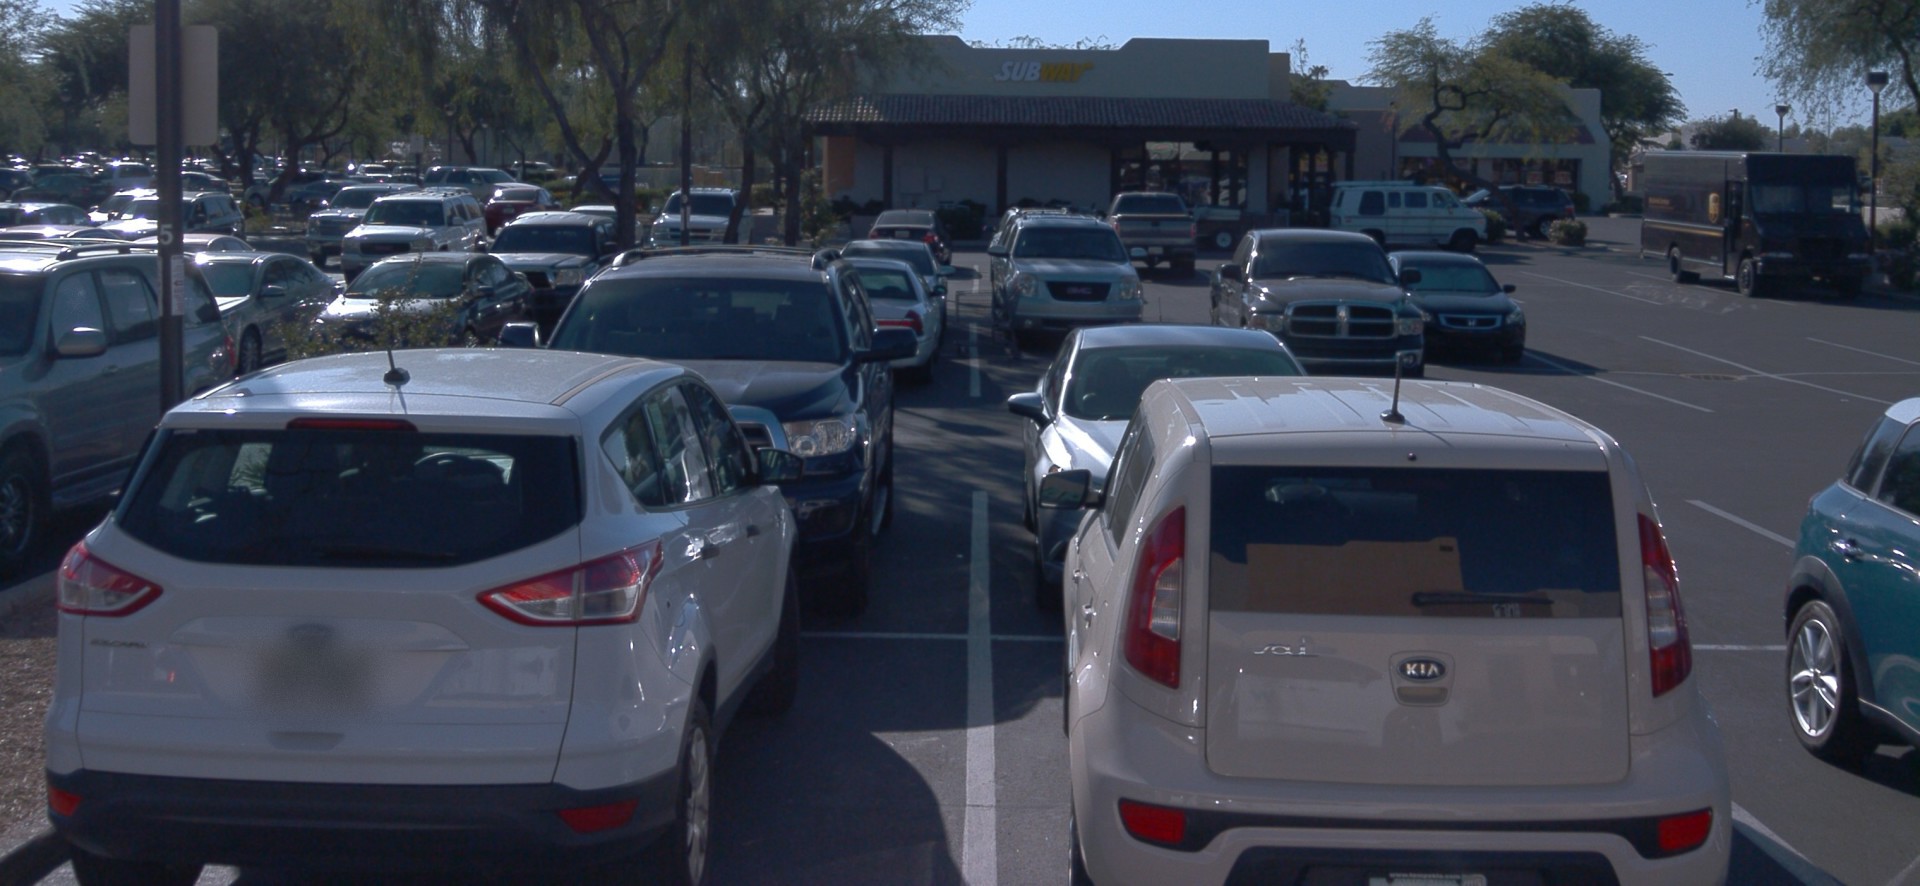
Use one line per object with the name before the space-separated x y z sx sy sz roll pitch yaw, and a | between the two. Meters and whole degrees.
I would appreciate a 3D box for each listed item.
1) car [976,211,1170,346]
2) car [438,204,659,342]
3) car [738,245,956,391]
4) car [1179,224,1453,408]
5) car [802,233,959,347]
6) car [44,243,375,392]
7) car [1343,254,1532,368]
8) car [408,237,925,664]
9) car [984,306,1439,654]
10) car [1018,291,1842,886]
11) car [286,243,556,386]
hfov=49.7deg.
car | 1.623 -2.605 31.992 2.481 1.891 5.237 0 5 -2
car | -6.132 -2.654 31.612 2.086 1.901 5.342 1 5 2
car | -1.273 -1.648 25.887 2.256 1.562 5.128 1 6 2
car | 4.295 -1.731 26.172 2.523 2.021 5.784 1 6 1
car | -1.123 -2.382 31.426 2.127 1.553 4.507 1 6 1
car | -9.100 -1.640 25.670 2.180 1.602 4.851 1 6 2
car | 7.122 -2.058 31.393 1.976 1.493 4.499 1 6 2
car | -1.502 -0.212 12.868 2.497 2.061 5.138 1 5 -1
car | 1.299 0.036 12.841 2.170 1.543 4.762 1 6 -1
car | 1.233 0.469 7.174 2.026 1.832 4.006 1 5 2
car | -6.519 -1.670 25.662 2.082 1.543 4.565 1 6 1
